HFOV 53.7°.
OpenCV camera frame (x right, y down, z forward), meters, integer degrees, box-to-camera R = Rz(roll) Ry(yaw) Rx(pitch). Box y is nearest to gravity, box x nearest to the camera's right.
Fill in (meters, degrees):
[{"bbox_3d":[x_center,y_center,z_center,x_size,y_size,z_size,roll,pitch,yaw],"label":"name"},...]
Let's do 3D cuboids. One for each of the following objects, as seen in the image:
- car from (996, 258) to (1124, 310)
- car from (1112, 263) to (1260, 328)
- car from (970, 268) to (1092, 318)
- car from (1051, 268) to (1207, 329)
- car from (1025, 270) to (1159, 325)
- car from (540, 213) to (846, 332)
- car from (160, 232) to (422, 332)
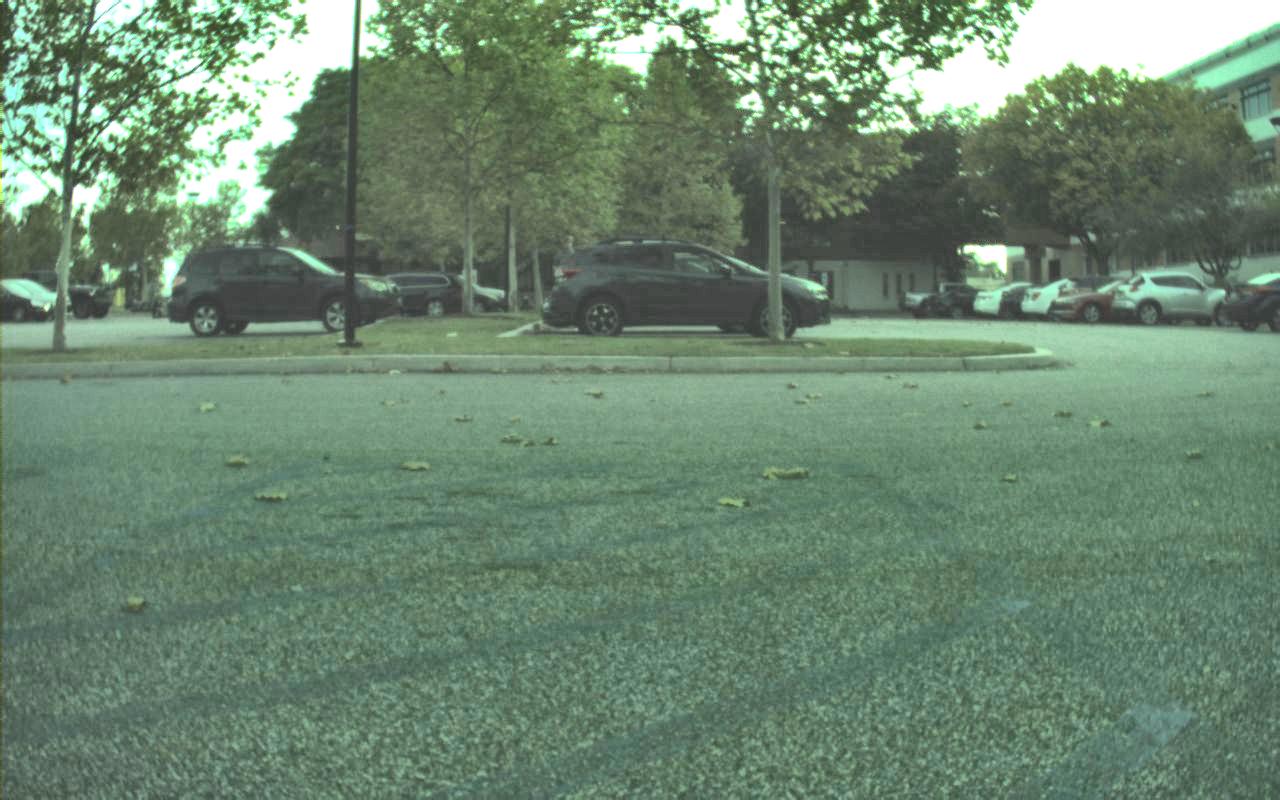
[{"bbox_3d":[15.311,-4.132,43.972,4.460,1.663,1.959,0,1,-1],"label":"car"},{"bbox_3d":[15.627,-2.890,33.322,4.154,1.647,1.875,0,1,2],"label":"car"},{"bbox_3d":[14.900,-4.021,46.420,4.629,1.763,2.036,1,1,12],"label":"car"},{"bbox_3d":[14.882,-2.989,36.094,4.619,1.637,1.978,0,1,0],"label":"car"},{"bbox_3d":[15.591,-3.455,41.361,4.457,1.687,1.956,1,1,3],"label":"car"},{"bbox_3d":[0.798,-1.989,20.086,4.675,1.699,1.986,0,1,-3],"label":"car"},{"bbox_3d":[-6.589,-2.154,22.959,4.707,1.730,2.004,0,1,0],"label":"car"}]
